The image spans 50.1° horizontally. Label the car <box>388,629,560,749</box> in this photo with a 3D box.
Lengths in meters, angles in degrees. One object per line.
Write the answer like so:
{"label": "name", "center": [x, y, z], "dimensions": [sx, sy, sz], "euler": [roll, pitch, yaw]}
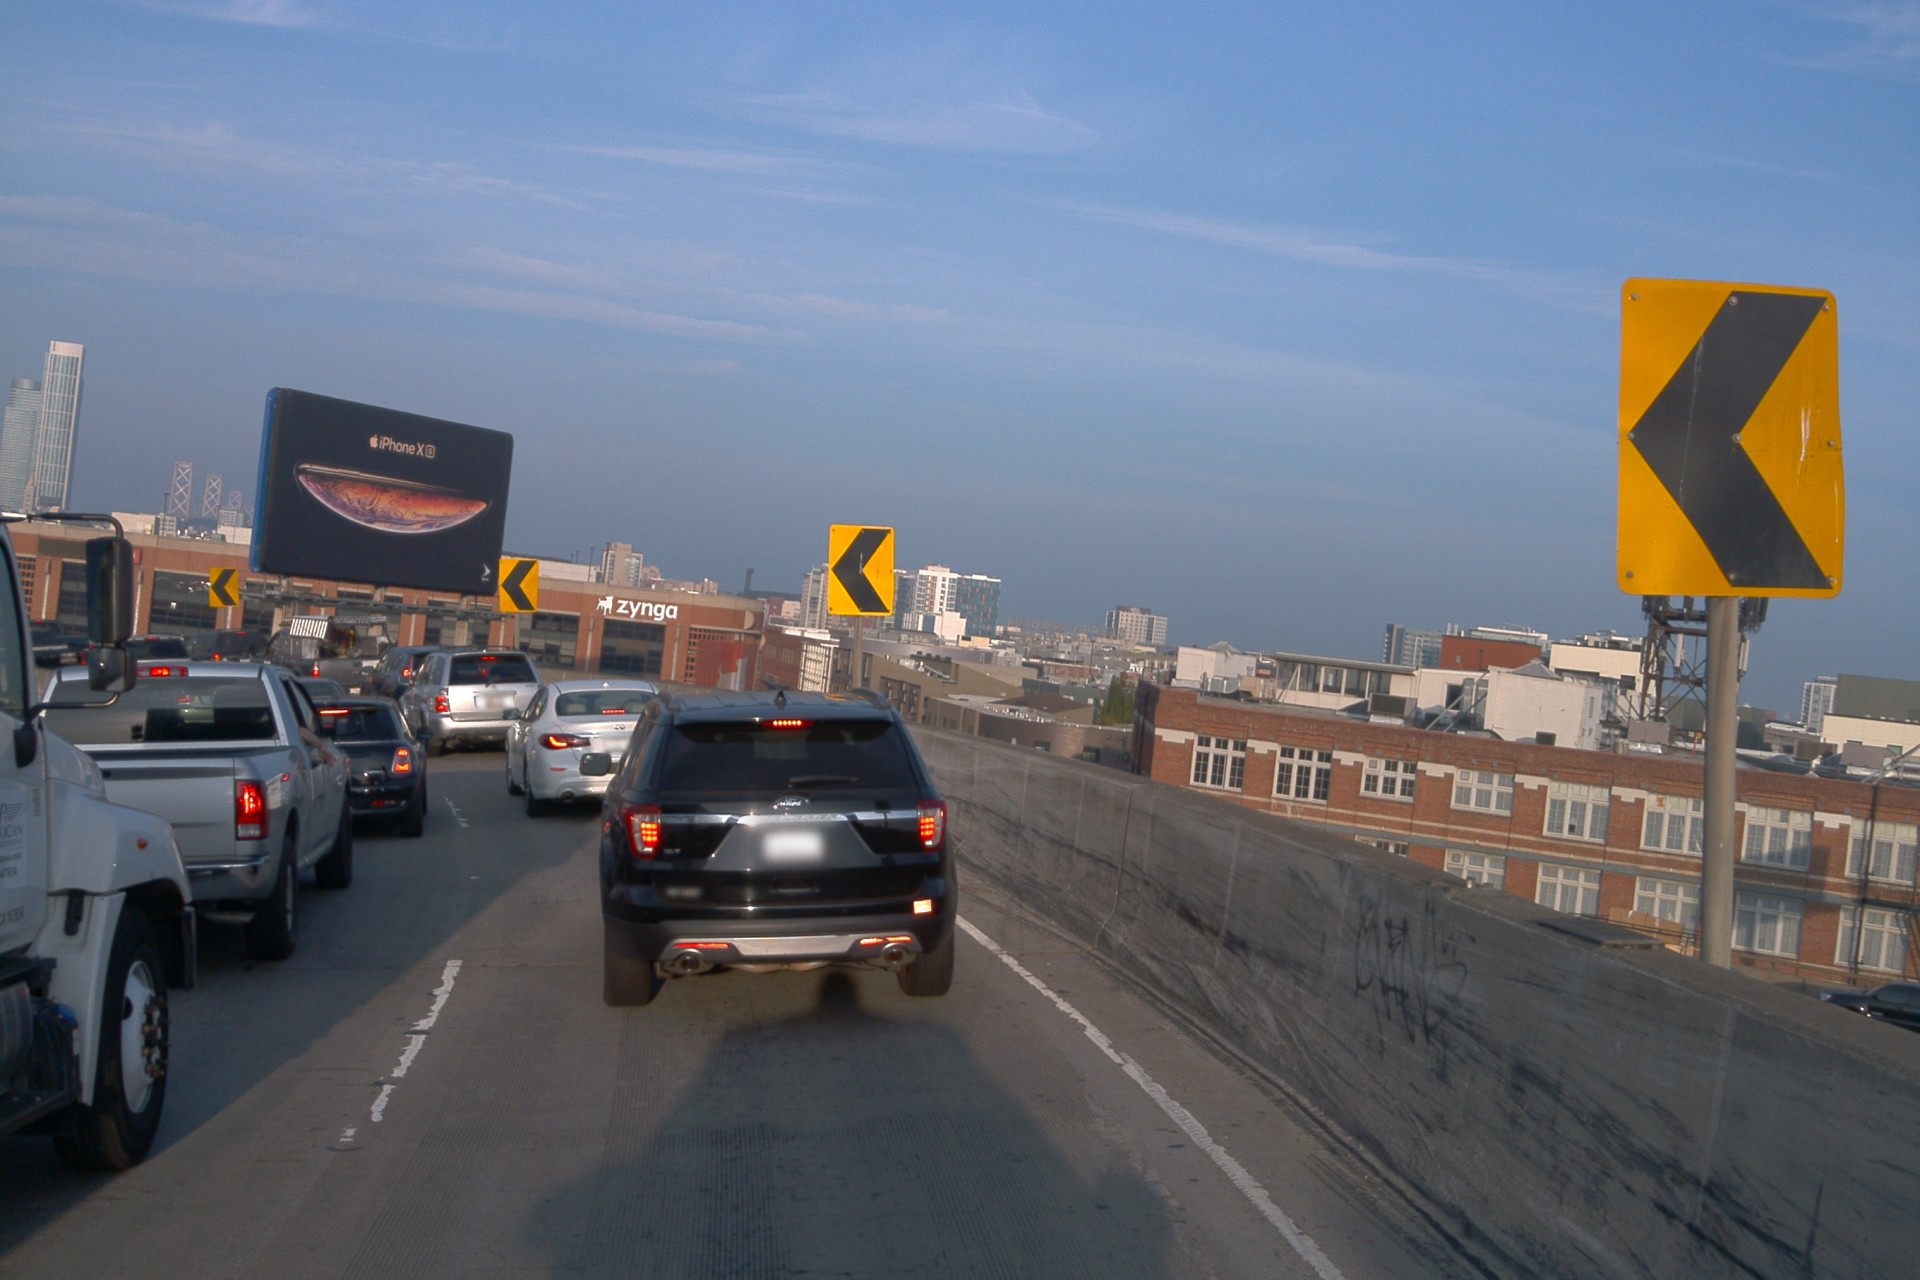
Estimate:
{"label": "car", "center": [-8.028, 0.746, 33.615], "dimensions": [1.992, 1.820, 4.393], "euler": [0, 0, -23]}

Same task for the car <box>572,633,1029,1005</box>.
{"label": "car", "center": [-1.230, 0.889, 12.883], "dimensions": [2.327, 1.850, 4.876], "euler": [0, 0, -10]}

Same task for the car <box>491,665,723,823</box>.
{"label": "car", "center": [-4.246, 1.126, 24.108], "dimensions": [2.144, 1.590, 4.509], "euler": [0, 0, -17]}

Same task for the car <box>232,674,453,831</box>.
{"label": "car", "center": [-6.455, 1.112, 21.850], "dimensions": [1.934, 1.411, 4.084], "euler": [0, 0, -12]}
